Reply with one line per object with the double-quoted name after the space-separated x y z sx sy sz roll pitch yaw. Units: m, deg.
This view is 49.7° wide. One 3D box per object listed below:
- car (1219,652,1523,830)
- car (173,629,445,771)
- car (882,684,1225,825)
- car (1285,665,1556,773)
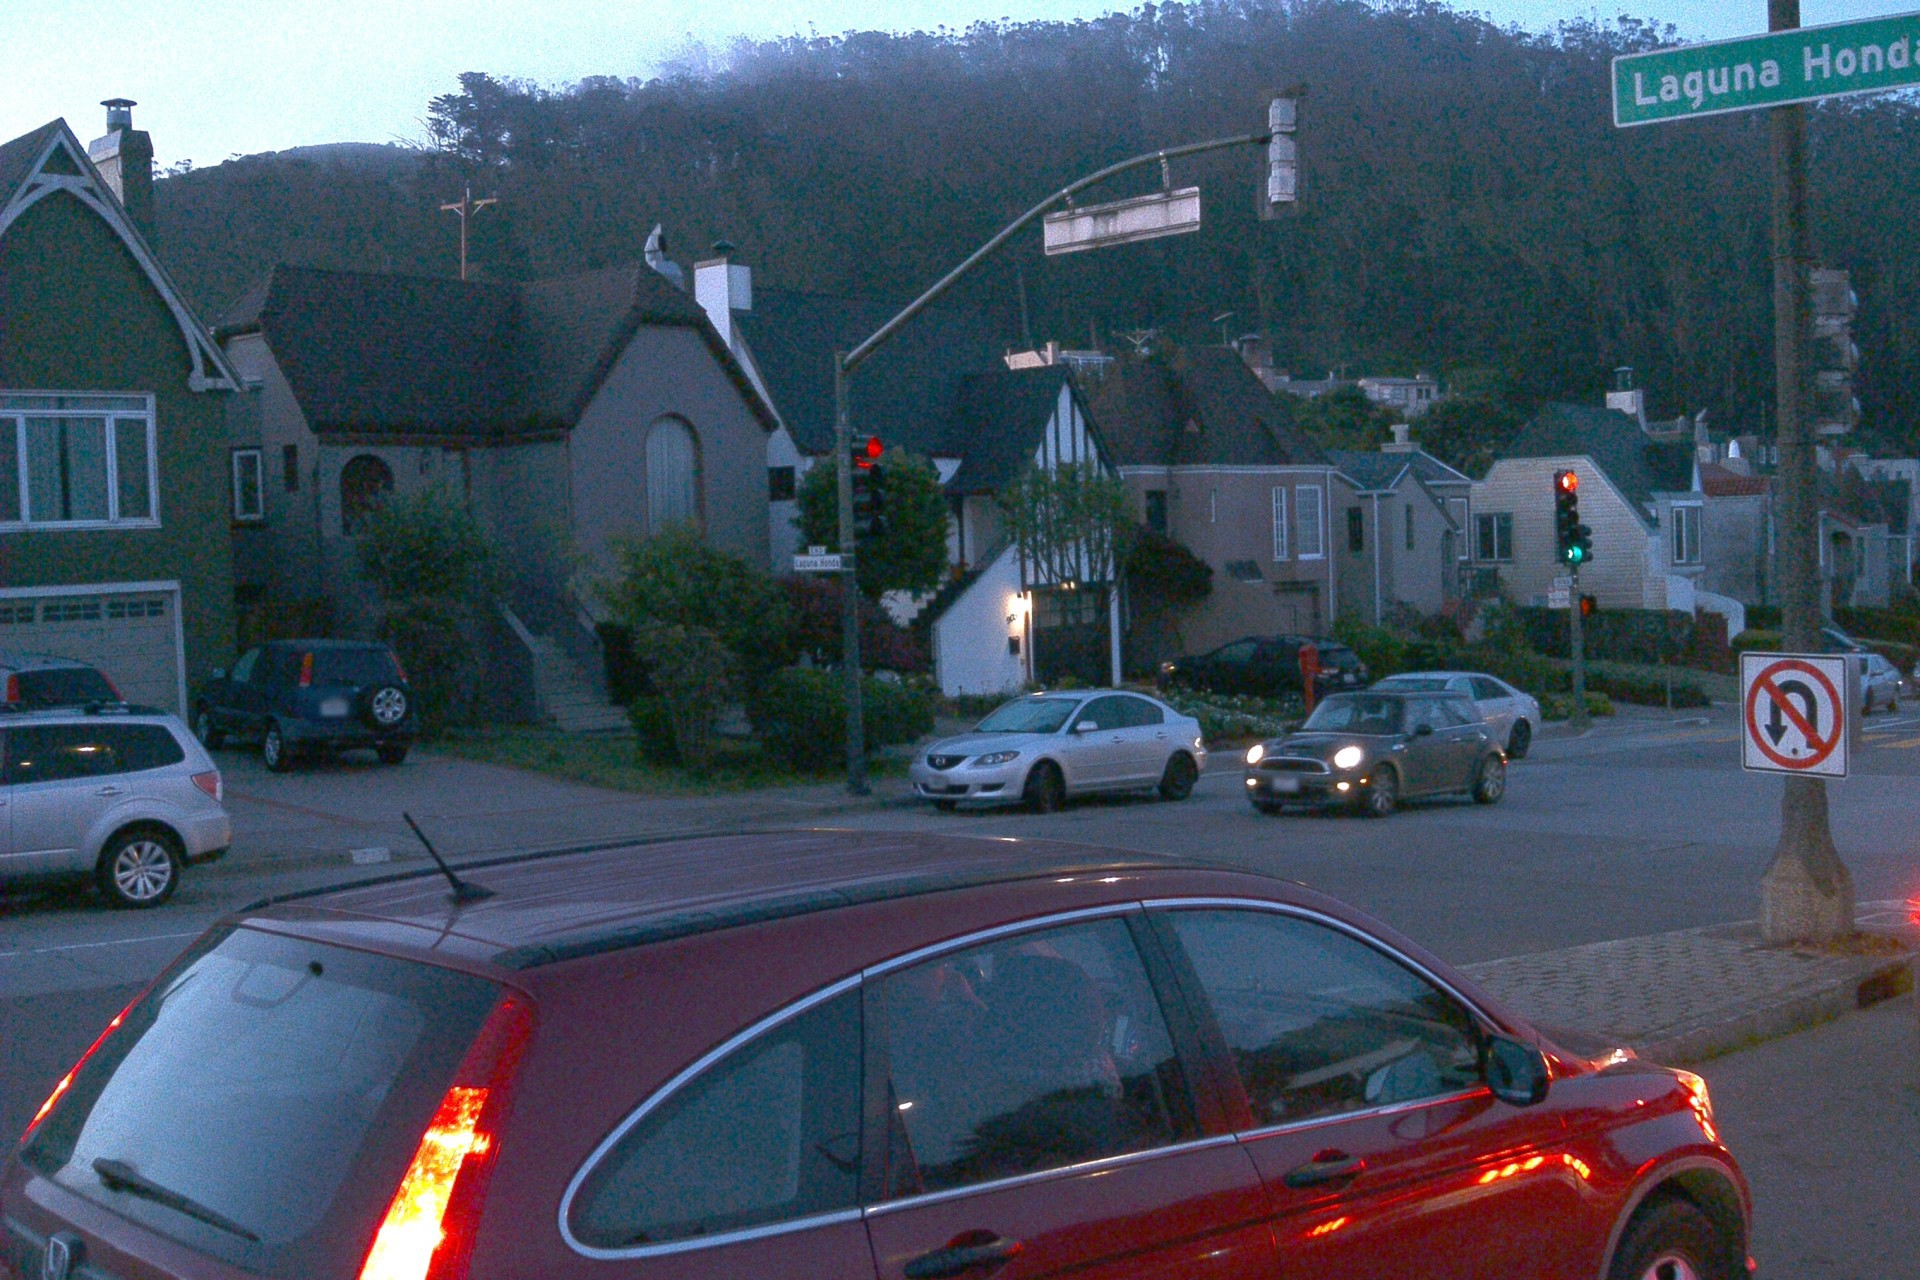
4.913 1.109 24.498 1.799 1.890 3.810 0 0 42 "car"
-8.841 0.745 27.939 2.020 1.750 4.316 0 0 -39 "car"
1.253 1.352 25.938 1.901 1.490 4.437 0 0 42 "car"
7.475 1.203 33.345 2.119 1.530 4.797 0 0 43 "car"
